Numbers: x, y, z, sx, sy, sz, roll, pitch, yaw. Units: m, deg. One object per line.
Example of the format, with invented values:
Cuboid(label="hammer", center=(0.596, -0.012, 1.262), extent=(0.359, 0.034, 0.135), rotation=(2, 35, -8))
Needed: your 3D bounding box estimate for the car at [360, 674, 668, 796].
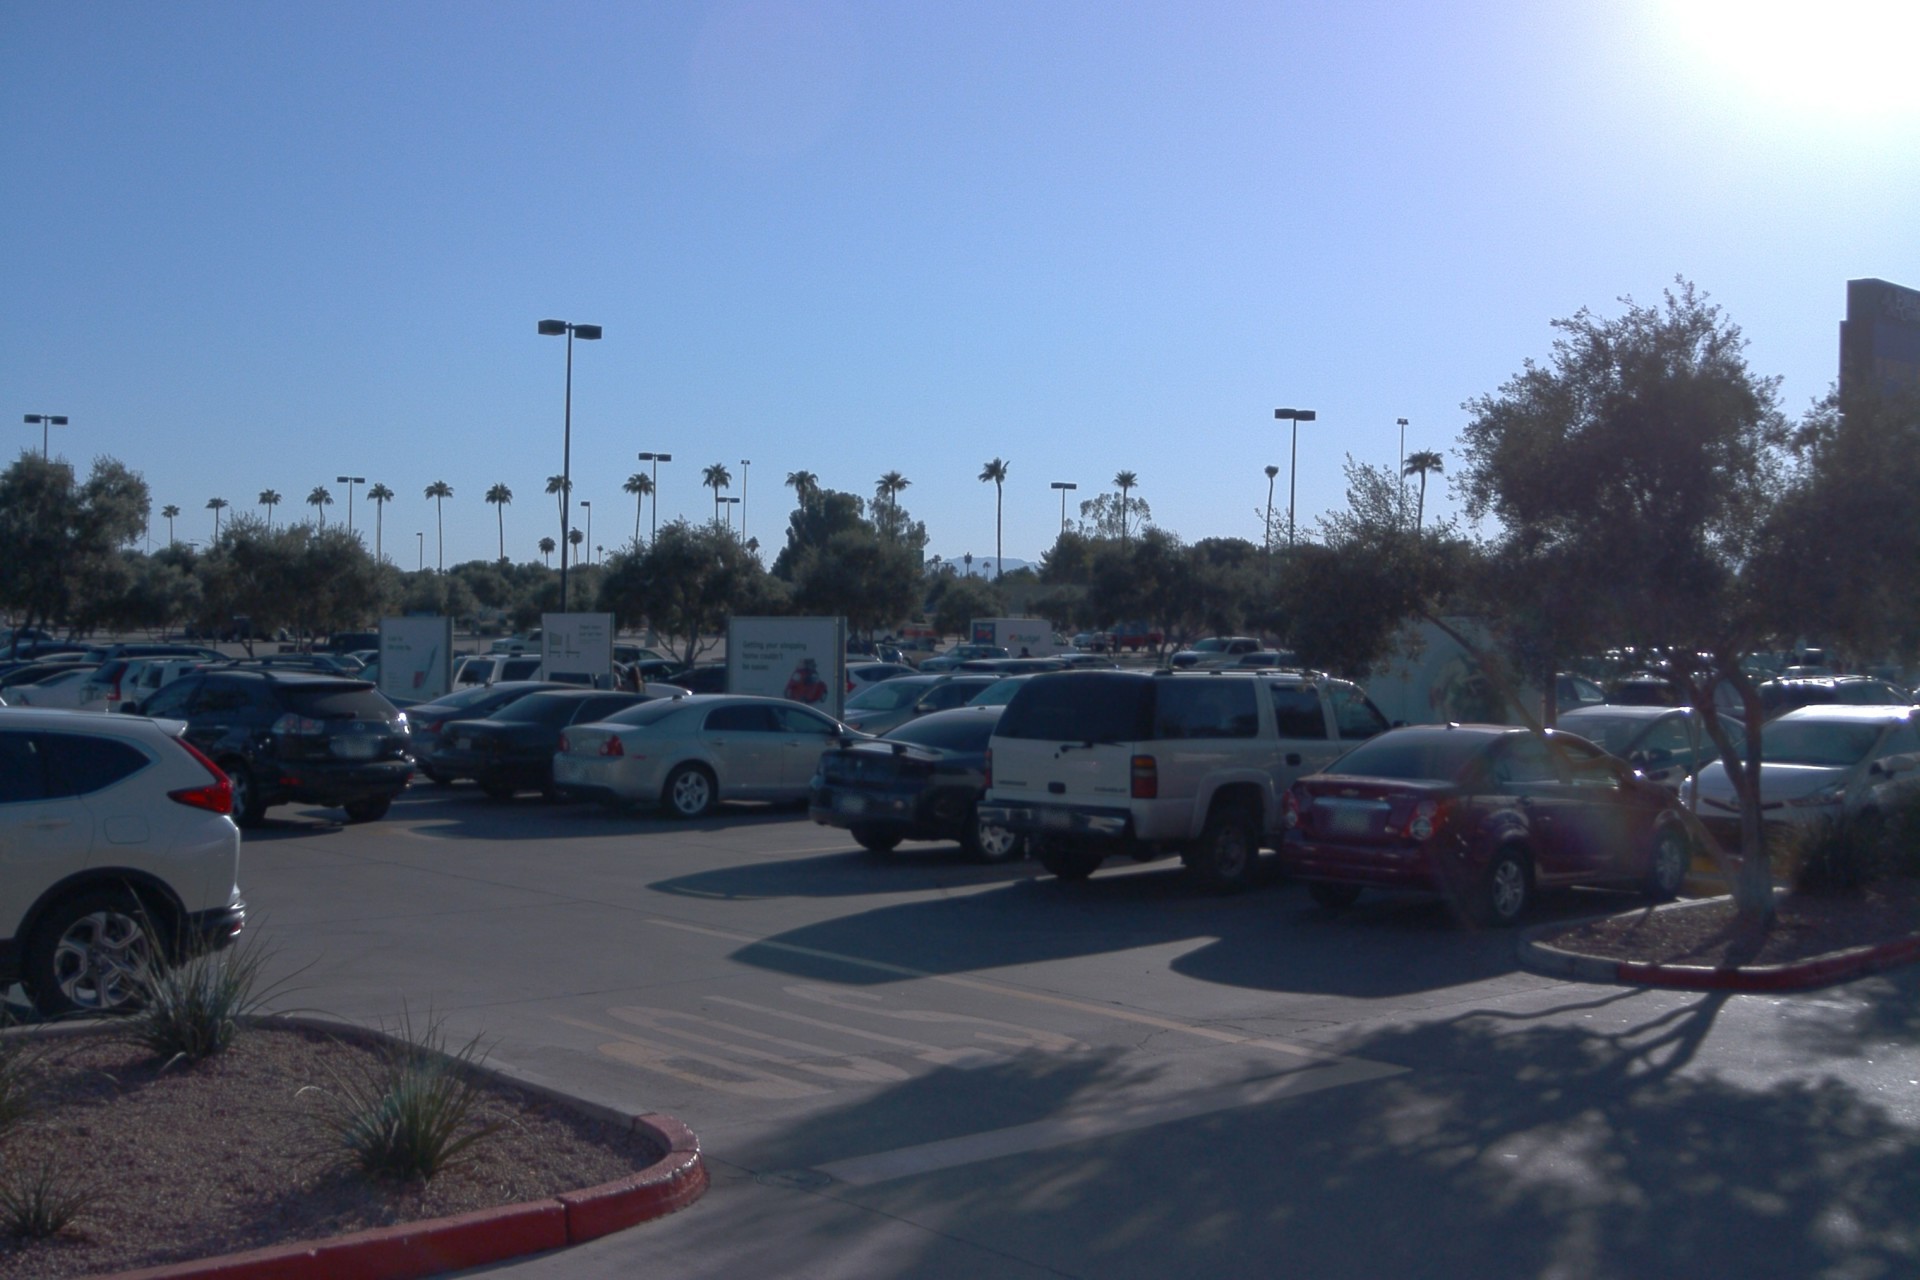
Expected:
Cuboid(label="car", center=(-6.347, 1.301, 29.608), extent=(3.883, 1.600, 1.876), rotation=(1, 0, -42))

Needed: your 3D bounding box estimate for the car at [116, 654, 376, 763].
Cuboid(label="car", center=(-12.280, 1.140, 35.643), extent=(3.880, 1.780, 1.650), rotation=(1, 0, -42))

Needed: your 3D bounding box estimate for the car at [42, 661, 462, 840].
Cuboid(label="car", center=(-8.035, 1.151, 23.313), extent=(4.564, 1.770, 2.205), rotation=(0, 0, 35))

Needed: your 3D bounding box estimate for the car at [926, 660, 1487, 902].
Cuboid(label="car", center=(2.399, 1.142, 18.901), extent=(5.317, 1.880, 2.178), rotation=(1, 0, -43))

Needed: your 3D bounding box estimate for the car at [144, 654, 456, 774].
Cuboid(label="car", center=(-10.561, 1.131, 33.212), extent=(4.348, 1.780, 1.923), rotation=(1, 0, -42))

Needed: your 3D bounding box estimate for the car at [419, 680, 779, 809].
Cuboid(label="car", center=(-4.694, 1.310, 27.241), extent=(4.342, 1.510, 1.857), rotation=(1, 0, -42))

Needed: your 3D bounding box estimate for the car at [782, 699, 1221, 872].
Cuboid(label="car", center=(0.500, 1.390, 21.066), extent=(4.346, 1.490, 1.909), rotation=(1, 0, -42))

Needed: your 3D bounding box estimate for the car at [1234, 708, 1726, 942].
Cuboid(label="car", center=(4.379, 1.404, 17.035), extent=(4.294, 1.580, 1.862), rotation=(1, 0, -42))

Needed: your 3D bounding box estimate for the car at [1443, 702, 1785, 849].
Cuboid(label="car", center=(7.344, 1.436, 23.045), extent=(3.896, 1.400, 1.920), rotation=(1, 0, -42))

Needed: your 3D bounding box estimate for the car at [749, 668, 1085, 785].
Cuboid(label="car", center=(-0.585, 1.240, 31.215), extent=(4.796, 1.600, 2.186), rotation=(1, 0, -42))

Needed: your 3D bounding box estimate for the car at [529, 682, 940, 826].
Cuboid(label="car", center=(-2.706, 1.335, 25.514), extent=(4.773, 1.560, 1.931), rotation=(1, 0, -40))
